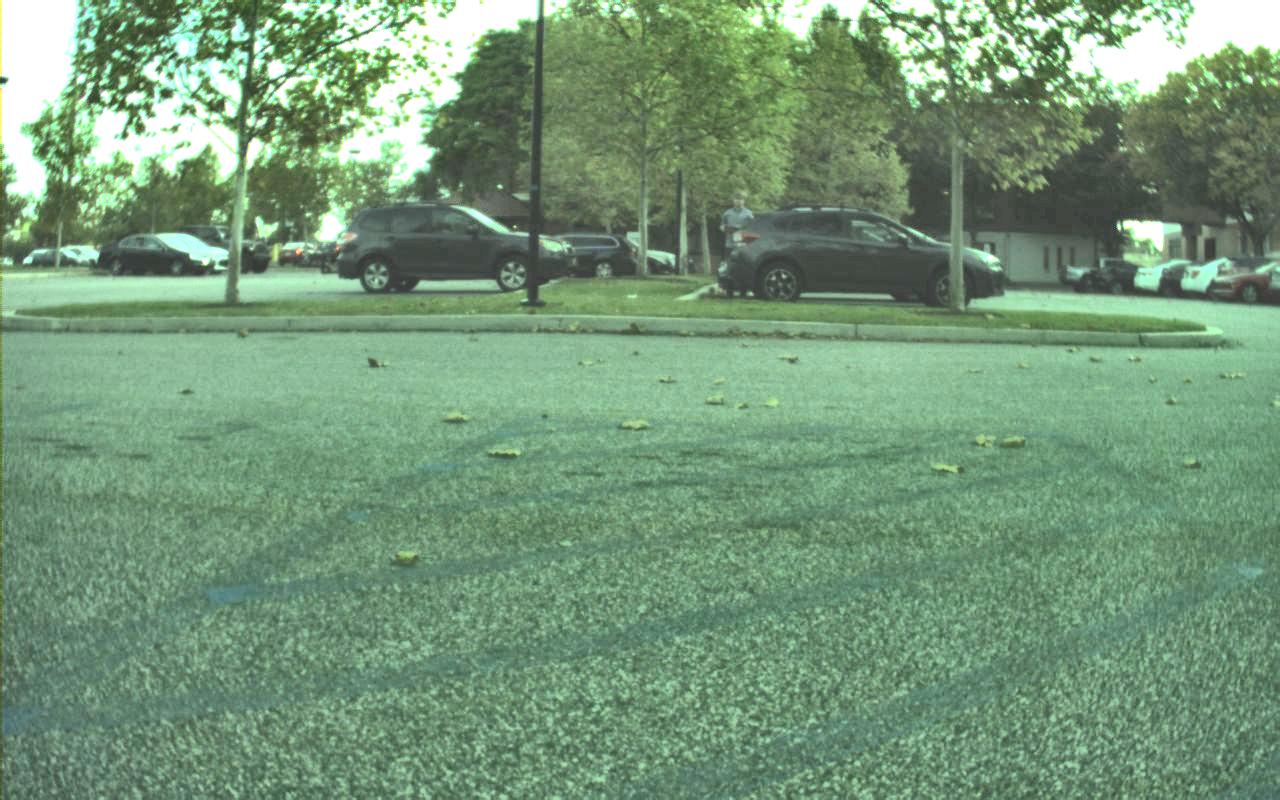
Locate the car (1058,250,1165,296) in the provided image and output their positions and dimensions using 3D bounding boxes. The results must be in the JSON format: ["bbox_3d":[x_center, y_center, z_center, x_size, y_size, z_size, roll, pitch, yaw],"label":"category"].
[{"bbox_3d":[22.565,-5.977,57.046,4.998,1.917,2.103,1,1,6],"label":"car"}]

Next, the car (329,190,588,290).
[{"bbox_3d":[-3.417,-2.978,23.629,4.571,1.645,1.971,1,1,6],"label":"car"}]

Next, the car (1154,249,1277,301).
[{"bbox_3d":[20.872,-4.404,41.792,4.407,1.655,1.956,1,1,8],"label":"car"}]

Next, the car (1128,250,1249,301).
[{"bbox_3d":[20.930,-4.627,44.420,4.569,1.719,2.001,1,1,9],"label":"car"}]

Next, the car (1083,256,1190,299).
[{"bbox_3d":[21.883,-5.280,52.059,4.581,1.601,1.964,0,1,-1],"label":"car"}]

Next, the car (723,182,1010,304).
[{"bbox_3d":[3.550,-2.461,19.873,4.435,1.718,1.942,1,1,4],"label":"car"}]

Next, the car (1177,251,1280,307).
[{"bbox_3d":[20.717,-4.040,39.297,4.451,1.687,1.958,1,1,10],"label":"car"}]
